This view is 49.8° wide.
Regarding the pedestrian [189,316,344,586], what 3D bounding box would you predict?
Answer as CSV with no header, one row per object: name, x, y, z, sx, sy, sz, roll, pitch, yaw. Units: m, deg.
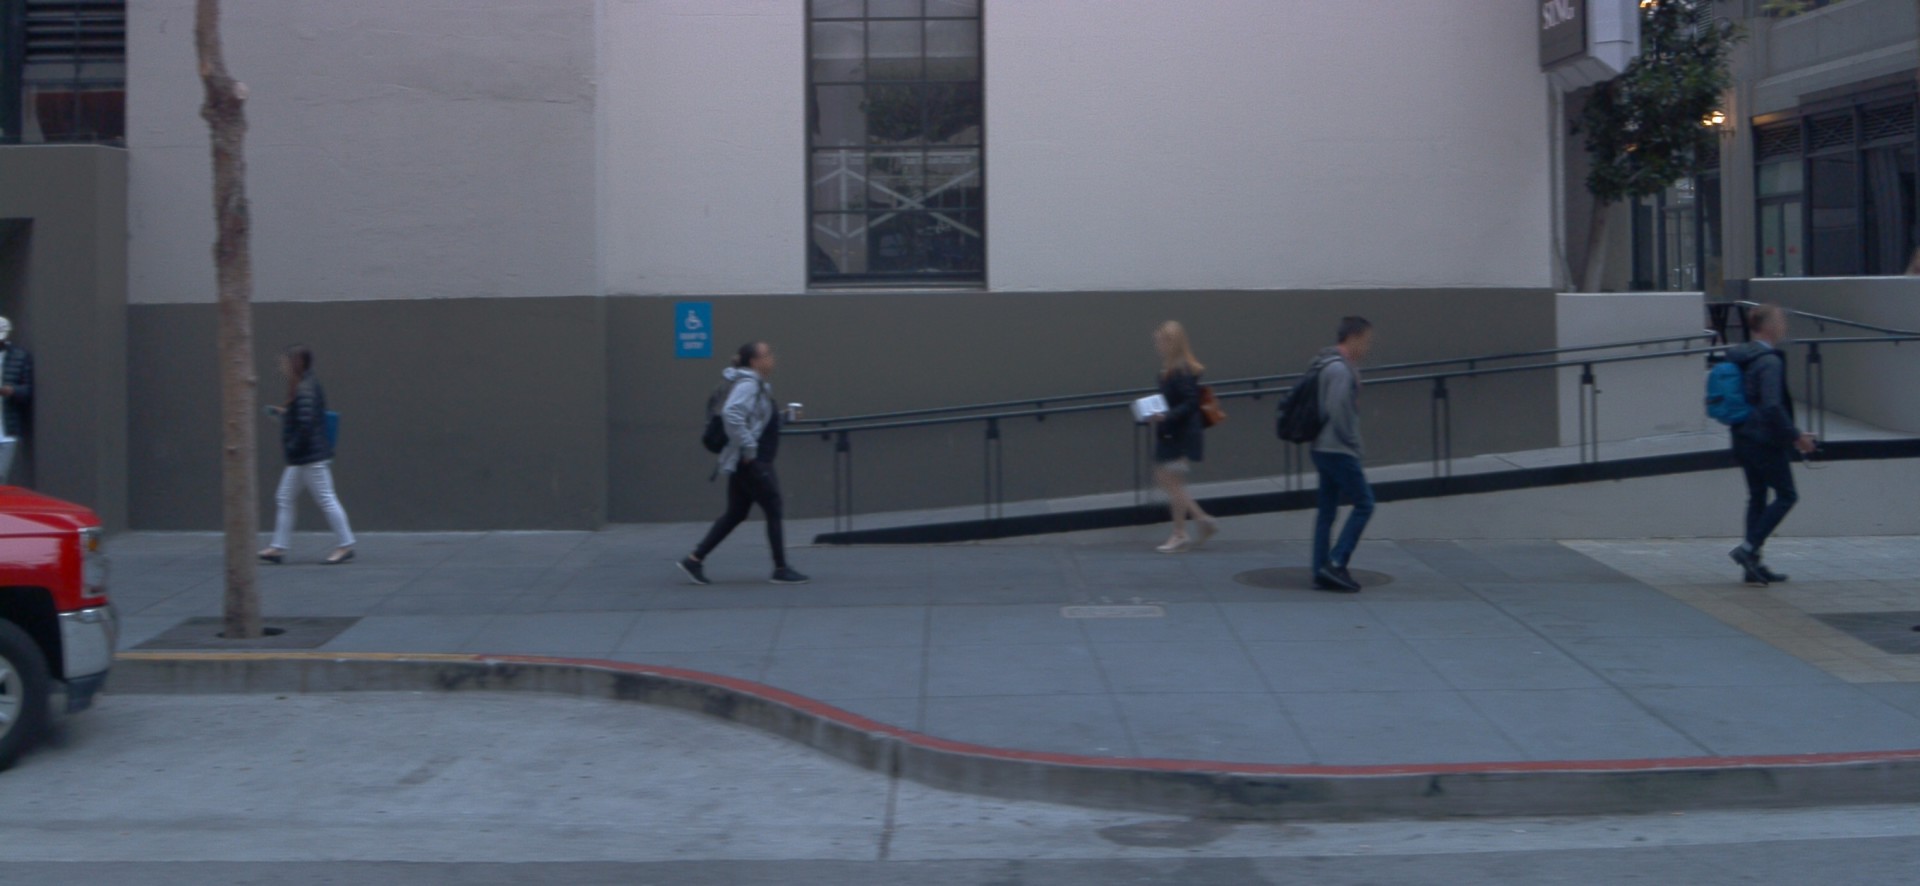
pedestrian,-4.925,0.023,14.739,0.920,1.786,0.912,-1,2,-12

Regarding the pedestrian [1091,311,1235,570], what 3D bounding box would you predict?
pedestrian,1.449,-0.043,14.883,0.901,1.756,0.799,-1,2,-3

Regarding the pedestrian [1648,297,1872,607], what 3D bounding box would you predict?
pedestrian,5.075,0.022,13.172,1.053,1.856,0.923,-1,2,-1

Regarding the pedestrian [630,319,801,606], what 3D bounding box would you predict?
pedestrian,-1.587,0.099,13.591,0.998,1.771,0.896,-1,2,0

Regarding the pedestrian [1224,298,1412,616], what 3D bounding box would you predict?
pedestrian,2.239,0.057,13.040,1.034,1.899,0.878,0,2,1
